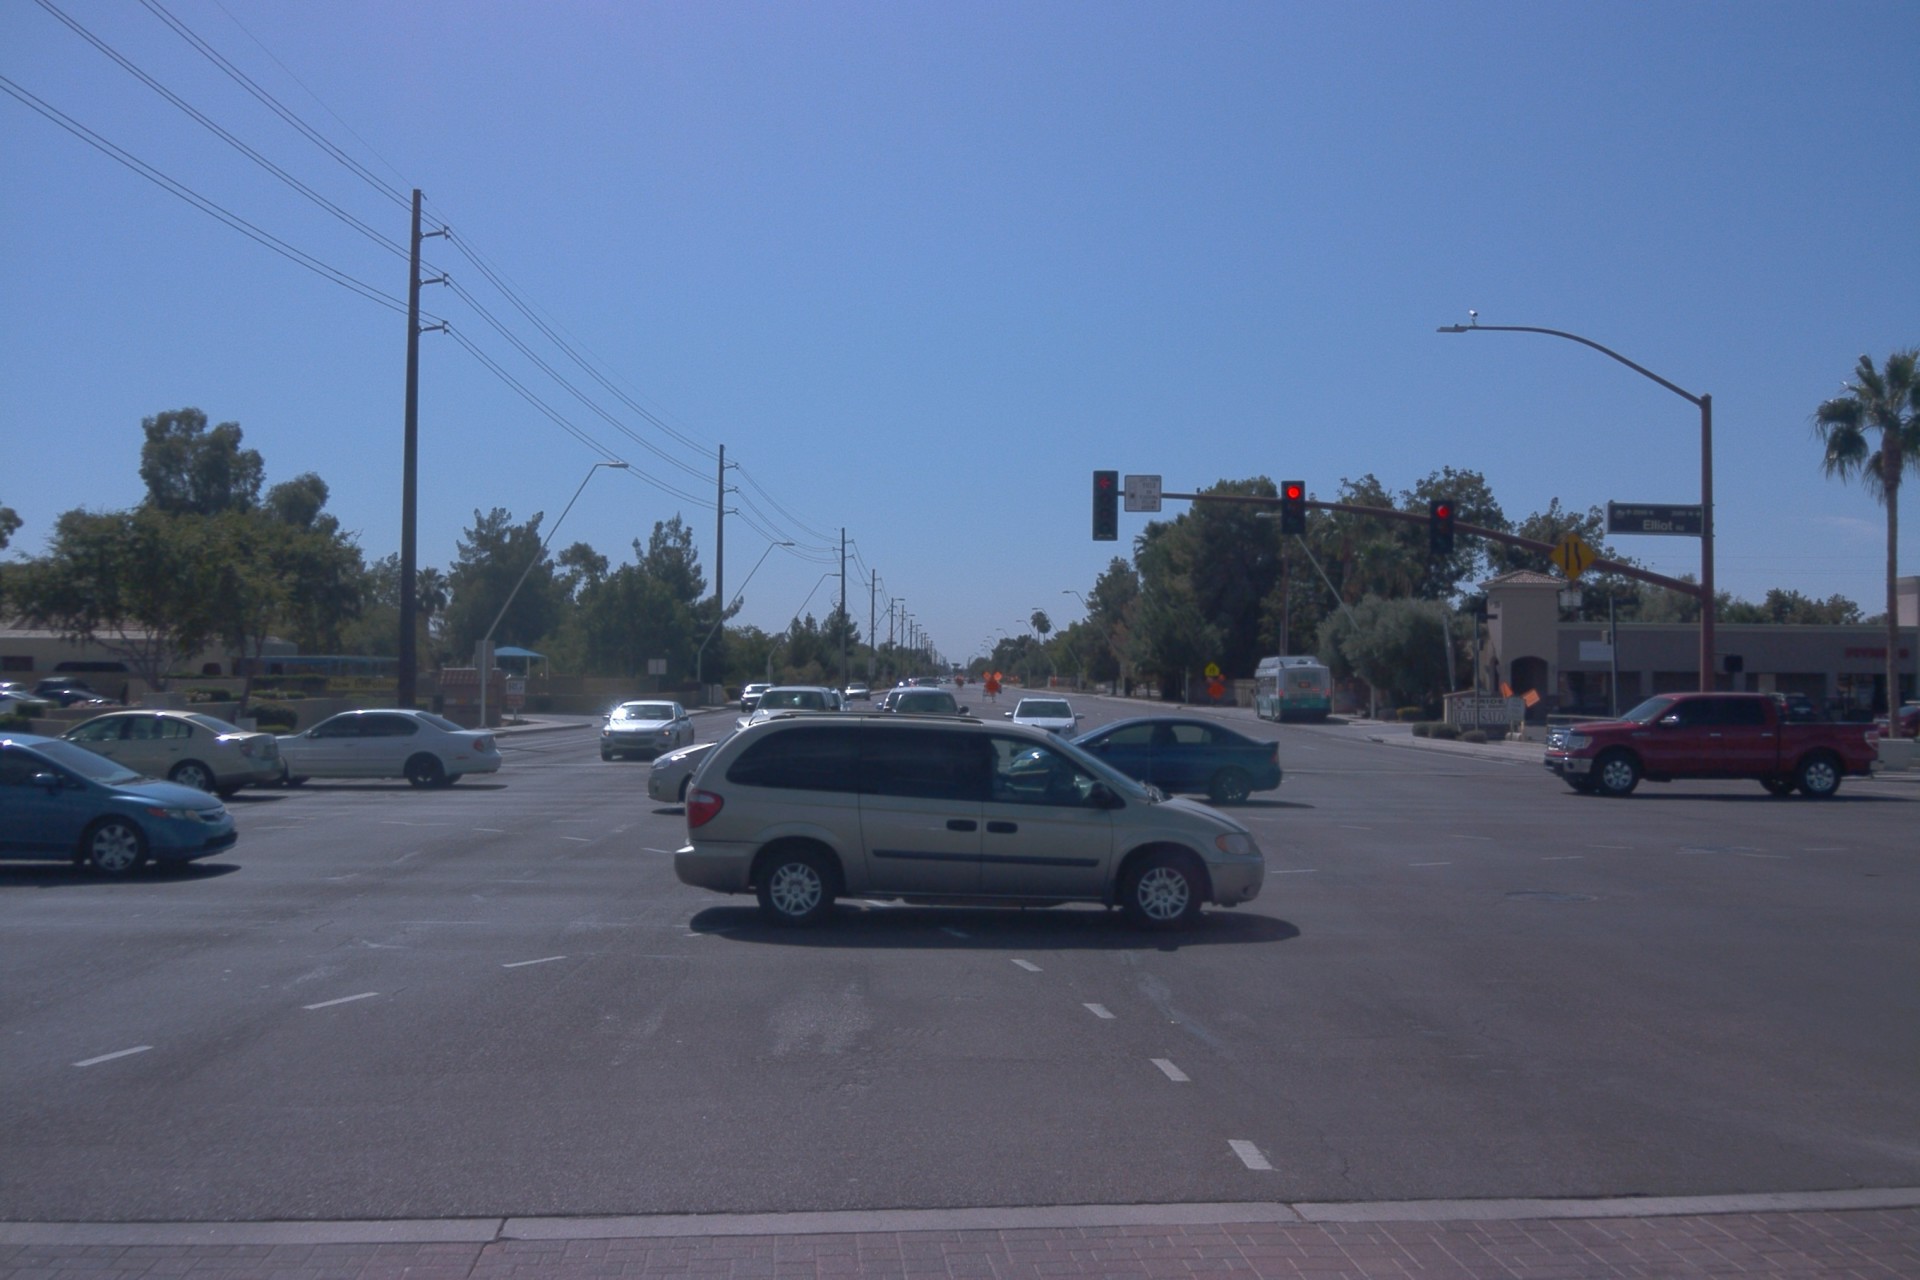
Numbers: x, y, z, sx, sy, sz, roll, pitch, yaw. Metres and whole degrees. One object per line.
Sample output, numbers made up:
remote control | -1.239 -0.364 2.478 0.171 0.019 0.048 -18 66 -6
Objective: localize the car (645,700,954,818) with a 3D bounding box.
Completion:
car | -2.323 1.741 30.851 4.426 1.670 1.951 0 -1 -1

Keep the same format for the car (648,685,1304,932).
car | 0.115 1.359 17.570 5.207 1.950 2.131 0 -1 0

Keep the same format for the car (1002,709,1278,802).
car | 2.910 1.888 34.354 4.385 1.470 1.919 0 -1 0
